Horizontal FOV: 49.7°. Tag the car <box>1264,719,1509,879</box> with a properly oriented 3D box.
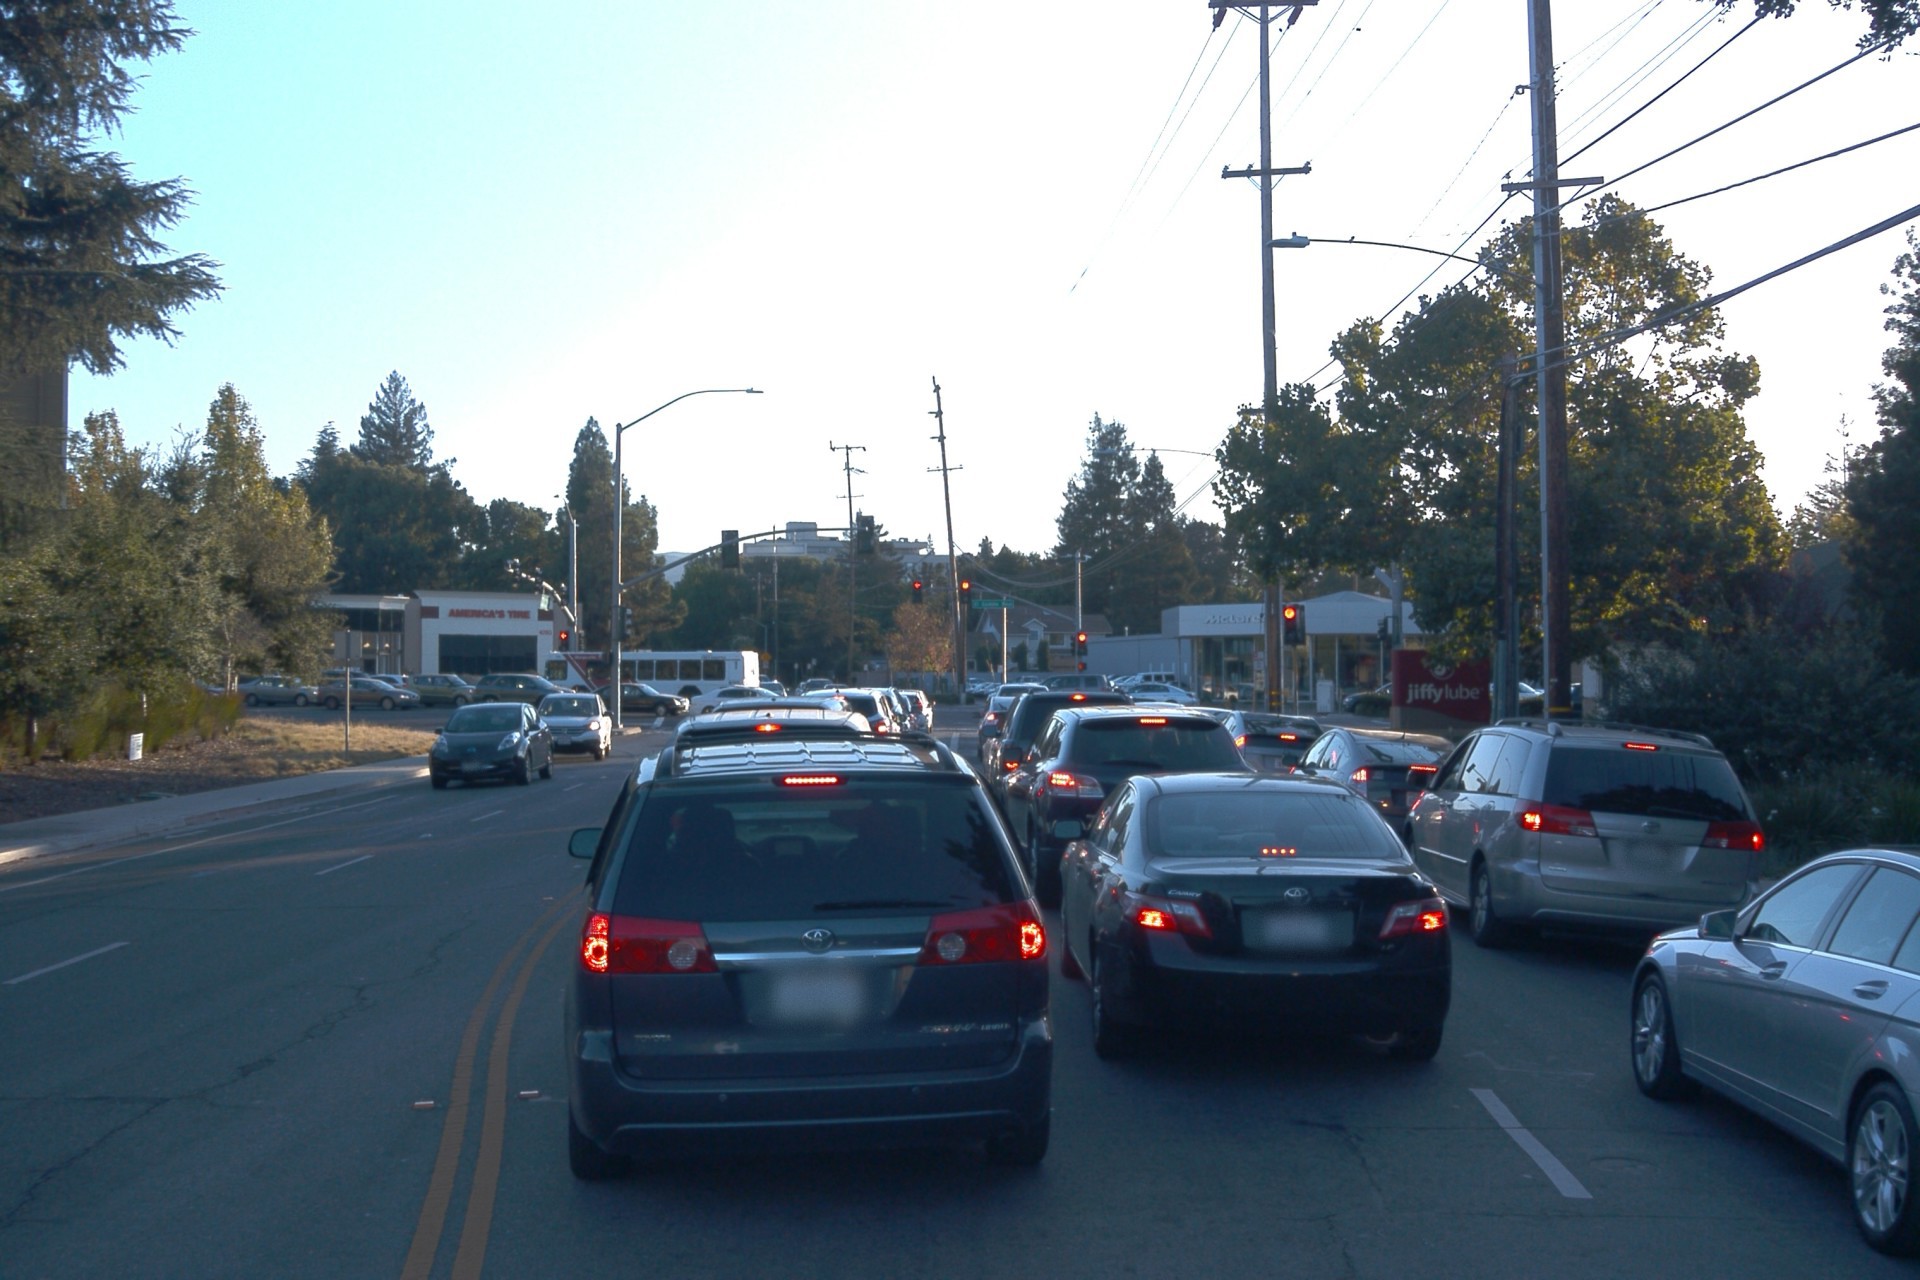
[{"bbox_3d":[4.676,1.708,23.273,1.785,1.510,4.026,0,0,-2],"label":"car"}]

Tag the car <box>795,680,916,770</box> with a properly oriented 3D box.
[{"bbox_3d":[-1.660,1.356,33.817,1.709,1.350,3.337,0,0,2],"label":"car"}]

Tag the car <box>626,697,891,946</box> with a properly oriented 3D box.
[{"bbox_3d":[-1.454,1.300,16.260,1.812,1.620,4.042,0,0,-2],"label":"car"}]

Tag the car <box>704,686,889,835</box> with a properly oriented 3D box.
[{"bbox_3d":[-1.862,1.363,24.681,1.760,1.570,3.956,0,0,2],"label":"car"}]

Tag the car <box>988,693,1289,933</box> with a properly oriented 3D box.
[{"bbox_3d":[1.458,1.436,18.799,1.992,1.810,4.553,0,0,-5],"label":"car"}]

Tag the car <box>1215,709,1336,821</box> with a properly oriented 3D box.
[{"bbox_3d":[4.670,1.820,30.934,1.418,1.490,3.138,0,0,2],"label":"car"}]

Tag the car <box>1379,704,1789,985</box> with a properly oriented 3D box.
[{"bbox_3d":[4.903,1.523,17.100,2.061,1.850,4.903,0,0,2],"label":"car"}]

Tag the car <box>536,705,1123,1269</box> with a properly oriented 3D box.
[{"bbox_3d":[-0.864,1.303,10.103,2.102,1.830,5.461,0,0,-9],"label":"car"}]

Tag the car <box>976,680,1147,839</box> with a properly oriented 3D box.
[{"bbox_3d":[1.186,1.415,25.823,1.759,1.770,3.957,0,0,-3],"label":"car"}]

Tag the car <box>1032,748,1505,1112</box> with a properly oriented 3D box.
[{"bbox_3d":[1.529,1.477,11.982,1.915,1.490,4.528,0,0,-2],"label":"car"}]
